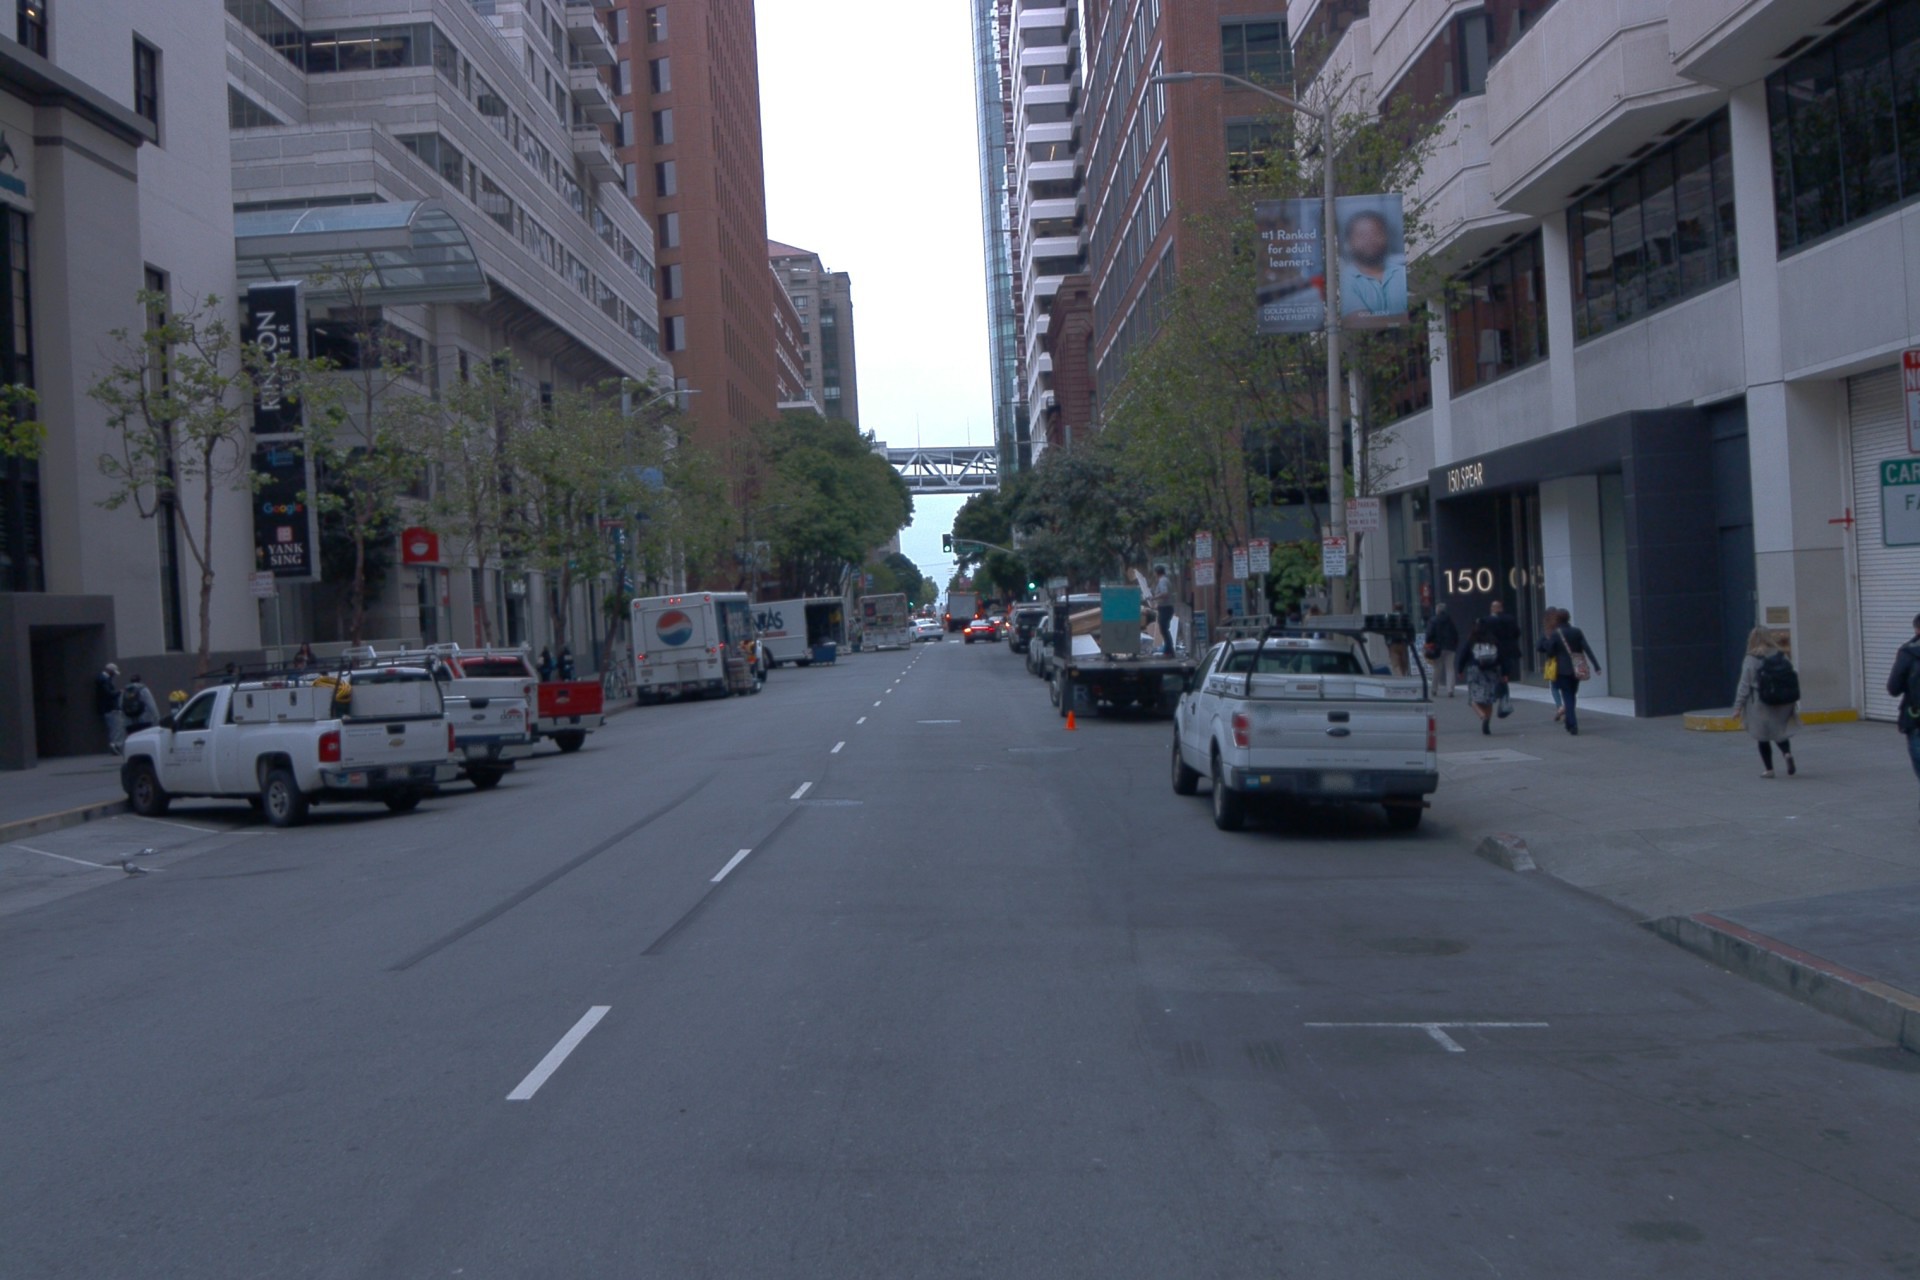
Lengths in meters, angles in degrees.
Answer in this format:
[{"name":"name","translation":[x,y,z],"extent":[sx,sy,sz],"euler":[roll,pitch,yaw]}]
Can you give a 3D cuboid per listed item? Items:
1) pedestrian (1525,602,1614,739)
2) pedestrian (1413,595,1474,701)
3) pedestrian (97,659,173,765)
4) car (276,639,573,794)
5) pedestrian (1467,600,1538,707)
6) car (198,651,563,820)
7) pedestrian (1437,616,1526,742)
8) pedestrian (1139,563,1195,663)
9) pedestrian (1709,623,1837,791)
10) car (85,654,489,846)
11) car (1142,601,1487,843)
[{"name":"pedestrian","translation":[8.053,0.391,27.199],"extent":[0.945,1.770,0.913],"euler":[0,1,4]},{"name":"pedestrian","translation":[8.699,0.140,37.018],"extent":[0.934,1.880,1.072],"euler":[0,1,7]},{"name":"pedestrian","translation":[-14.122,1.217,35.201],"extent":[0.893,1.774,0.998],"euler":[0,1,0]},{"name":"car","translation":[-9.219,1.187,35.030],"extent":[2.647,2.344,5.713],"euler":[-1,1,-41]},{"name":"pedestrian","translation":[9.112,0.220,34.568],"extent":[0.899,1.760,1.110],"euler":[0,1,1]},{"name":"car","translation":[-8.767,1.307,30.749],"extent":[5.997,2.200,2.498],"euler":[0,1,43]},{"name":"pedestrian","translation":[7.116,0.517,28.087],"extent":[1.001,1.680,0.999],"euler":[0,1,4]},{"name":"pedestrian","translation":[3.796,-0.494,37.707],"extent":[0.765,1.800,0.661],"euler":[-1,1,-30]},{"name":"pedestrian","translation":[7.954,0.639,20.157],"extent":[0.888,1.600,0.979],"euler":[0,1,3]},{"name":"car","translation":[-9.027,1.329,27.325],"extent":[5.658,2.200,2.447],"euler":[0,1,40]},{"name":"car","translation":[3.502,0.706,21.778],"extent":[2.514,2.200,6.098],"euler":[0,1,-1]}]
